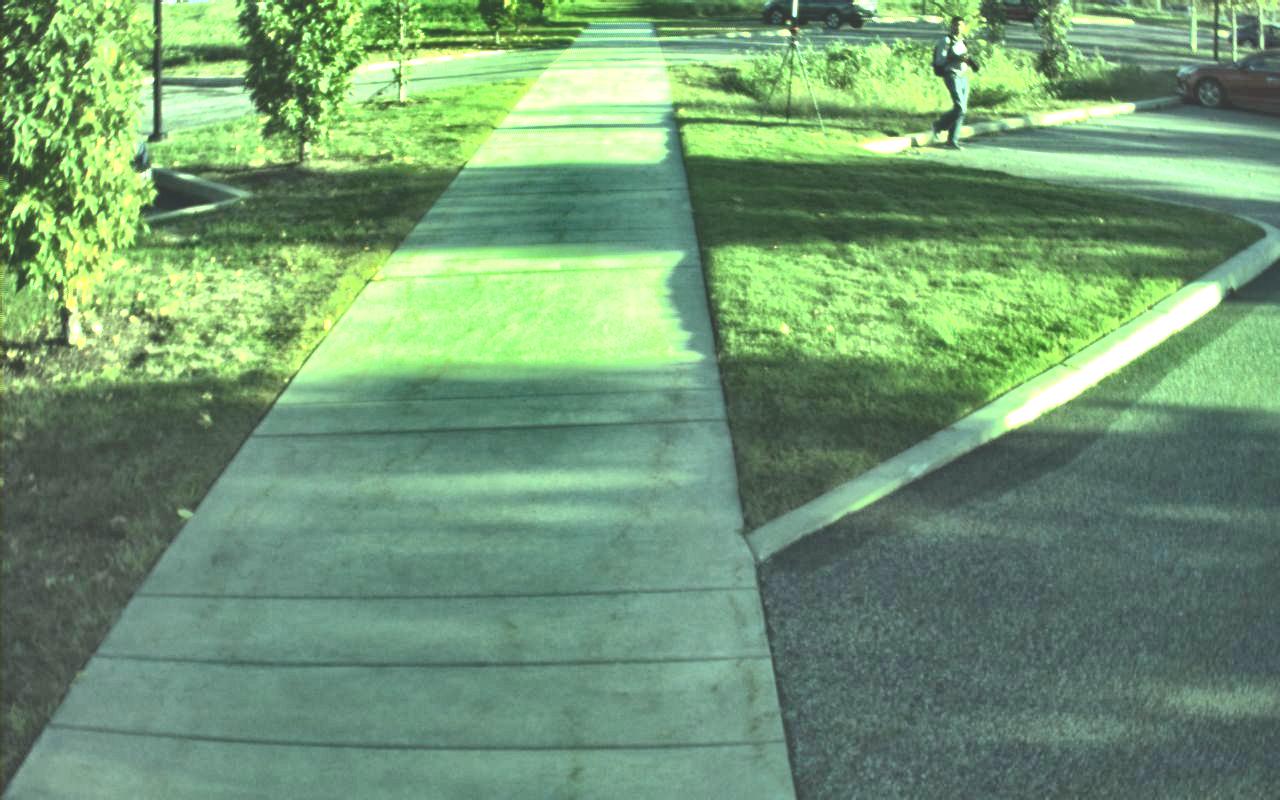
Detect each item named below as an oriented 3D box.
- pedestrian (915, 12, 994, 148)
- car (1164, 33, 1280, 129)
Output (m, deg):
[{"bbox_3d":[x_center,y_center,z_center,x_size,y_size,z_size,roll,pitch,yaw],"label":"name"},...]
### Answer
[{"bbox_3d":[4.033,-4.100,15.482,0.786,1.701,0.837,-3,15,-6],"label":"pedestrian"},{"bbox_3d":[13.286,-6.639,23.047,4.540,1.601,1.976,13,21,41],"label":"car"}]
